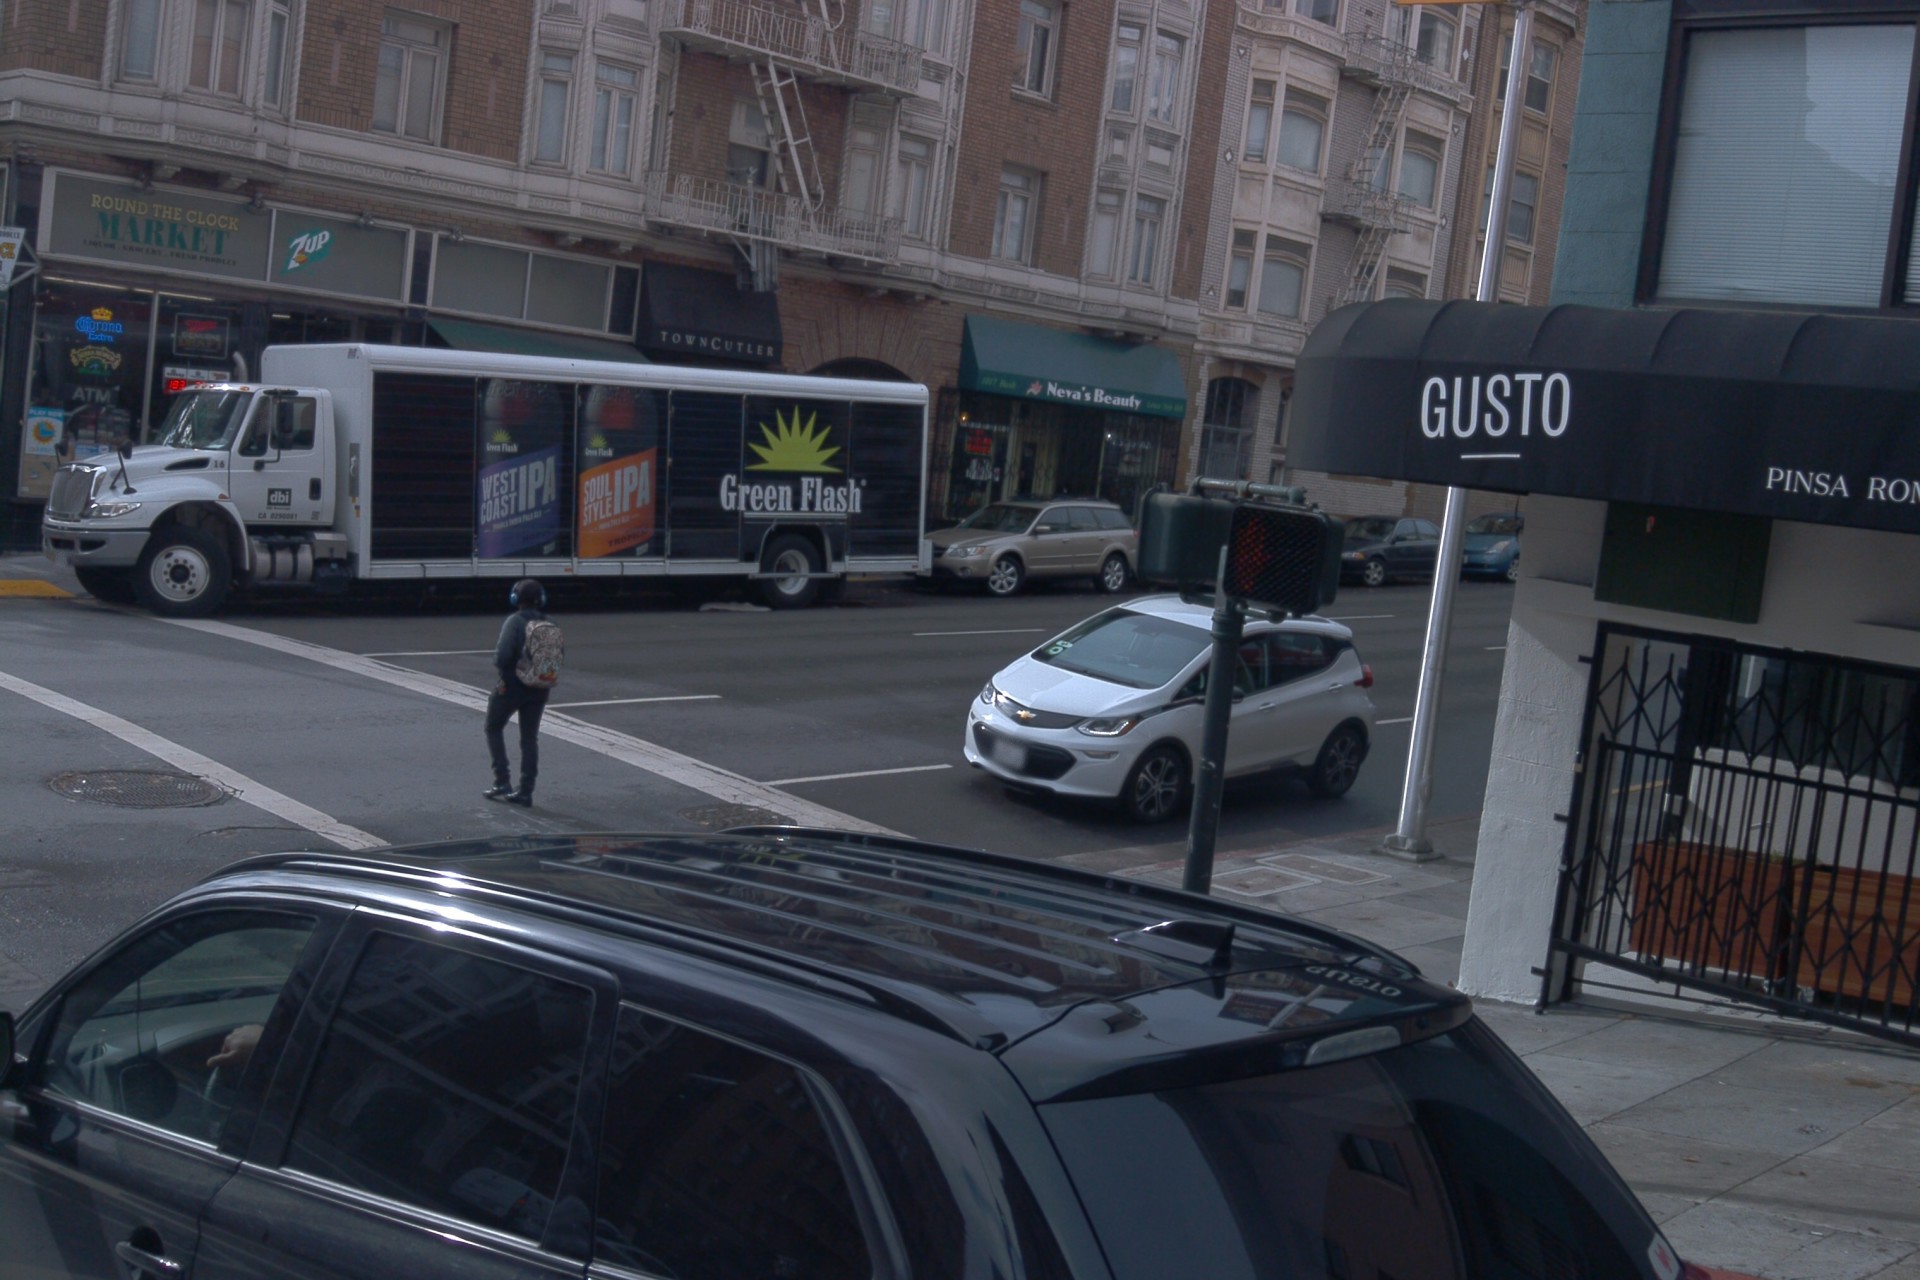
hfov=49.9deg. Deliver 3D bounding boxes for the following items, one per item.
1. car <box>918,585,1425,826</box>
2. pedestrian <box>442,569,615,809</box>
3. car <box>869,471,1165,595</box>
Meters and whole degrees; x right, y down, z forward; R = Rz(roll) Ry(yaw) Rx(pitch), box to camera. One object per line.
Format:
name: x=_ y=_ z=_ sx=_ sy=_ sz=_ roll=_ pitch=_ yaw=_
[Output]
car: x=1.893 y=0.473 z=17.462 sx=2.062 sy=1.780 sz=4.279 roll=2 pitch=1 yaw=43
pedestrian: x=-2.982 y=0.318 z=14.247 sx=0.929 sy=1.590 sz=0.750 roll=2 pitch=1 yaw=44
car: x=1.007 y=-1.673 z=33.638 sx=2.182 sy=1.770 sz=4.833 roll=2 pitch=1 yaw=42
